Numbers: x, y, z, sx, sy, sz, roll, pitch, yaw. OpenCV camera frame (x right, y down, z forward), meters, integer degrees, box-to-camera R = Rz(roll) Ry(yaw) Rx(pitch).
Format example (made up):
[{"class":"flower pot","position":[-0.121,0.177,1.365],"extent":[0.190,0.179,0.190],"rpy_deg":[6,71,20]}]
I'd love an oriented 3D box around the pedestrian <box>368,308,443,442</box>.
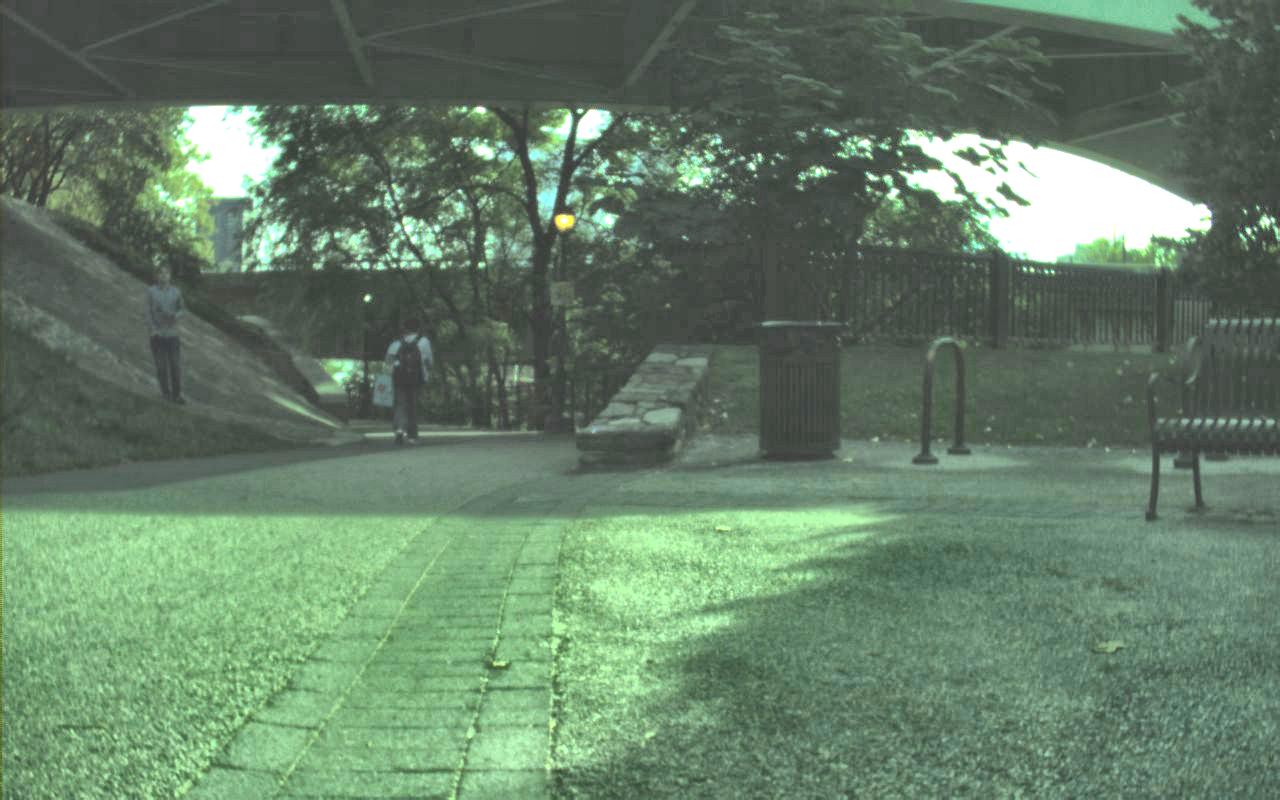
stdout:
[{"class":"pedestrian","position":[-3.007,-0.323,15.974],"extent":[0.901,1.666,0.921],"rpy_deg":[0,0,-7]}]

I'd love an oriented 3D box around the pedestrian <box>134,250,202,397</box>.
[{"class":"pedestrian","position":[-6.258,-0.969,15.598],"extent":[0.799,1.883,0.791],"rpy_deg":[0,0,-31]}]
